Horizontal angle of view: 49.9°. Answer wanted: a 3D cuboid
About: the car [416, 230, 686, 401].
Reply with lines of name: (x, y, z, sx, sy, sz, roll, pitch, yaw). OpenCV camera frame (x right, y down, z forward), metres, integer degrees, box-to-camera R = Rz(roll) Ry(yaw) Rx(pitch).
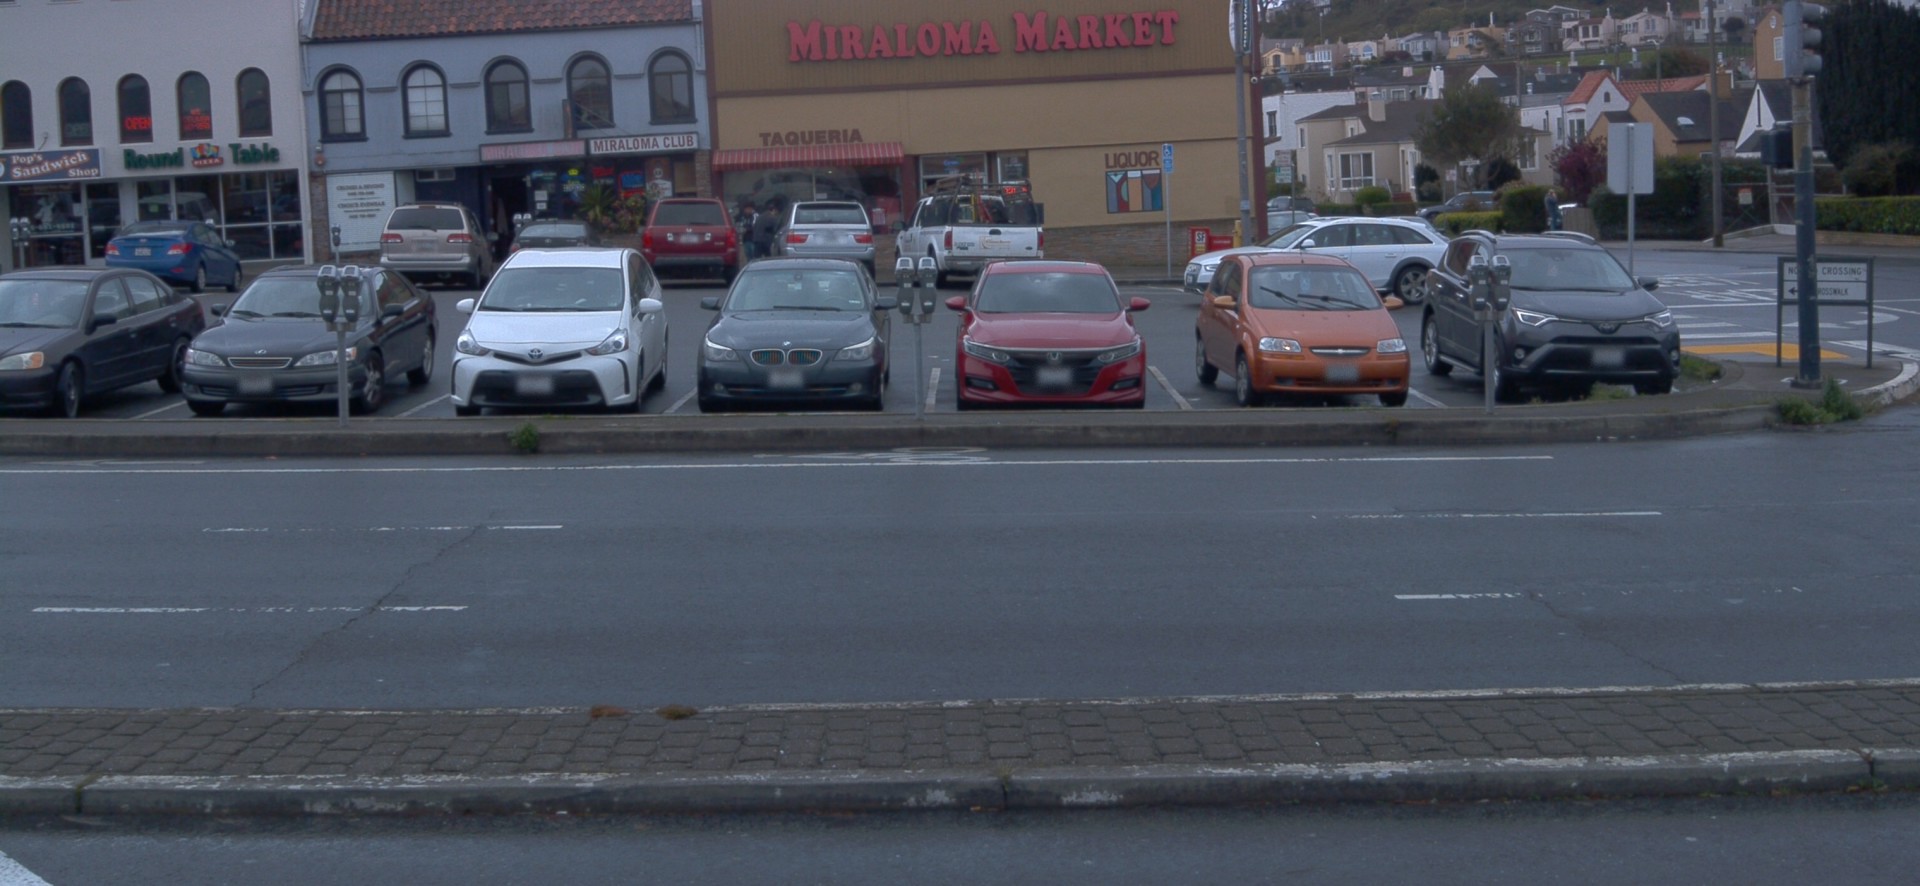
car: (-4.063, -1.415, 21.308, 2.132, 1.491, 4.678, 0, 6, -4)

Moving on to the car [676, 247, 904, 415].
car: (-1.660, -1.268, 21.658, 2.112, 1.461, 4.574, 0, 6, -1)

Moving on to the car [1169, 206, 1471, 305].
car: (6.132, -3.243, 35.319, 4.668, 1.604, 2.074, -2, 5, -14)

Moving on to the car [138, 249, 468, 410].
car: (-6.721, -1.284, 21.702, 2.023, 1.392, 4.712, 0, 6, -1)

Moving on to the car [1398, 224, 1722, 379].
car: (6.387, -1.639, 22.575, 2.205, 1.461, 4.580, 0, 6, 0)

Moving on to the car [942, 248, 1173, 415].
car: (0.904, -1.269, 21.830, 2.185, 1.461, 4.636, 0, 6, -1)

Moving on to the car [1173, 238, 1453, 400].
car: (3.601, -1.395, 21.815, 2.049, 1.462, 4.037, 0, 6, -4)
